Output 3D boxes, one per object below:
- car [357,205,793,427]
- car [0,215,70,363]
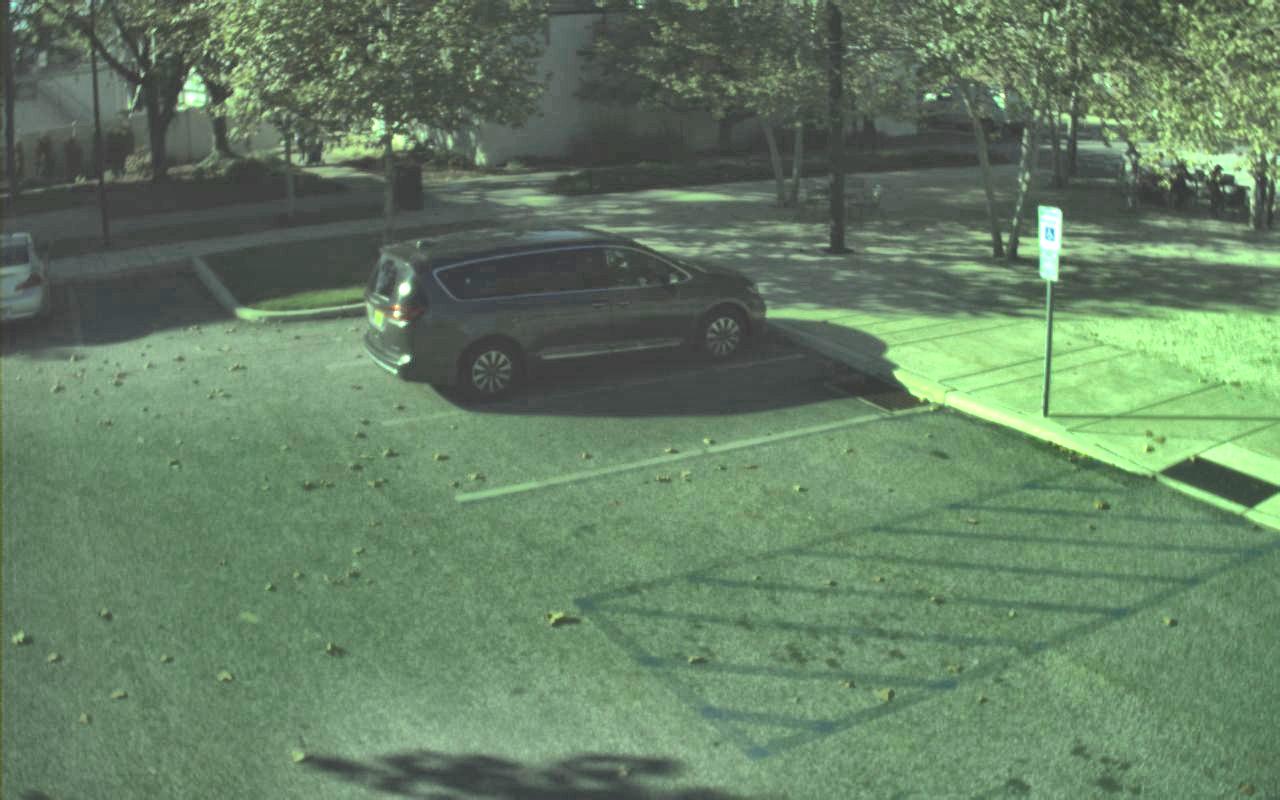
[{"bbox_3d":[-0.751,-1.176,15.362,4.934,1.756,2.063,-10,18,-27],"label":"car"},{"bbox_3d":[-10.936,-1.965,19.126,1.942,1.592,4.431,-10,19,-29],"label":"car"}]
